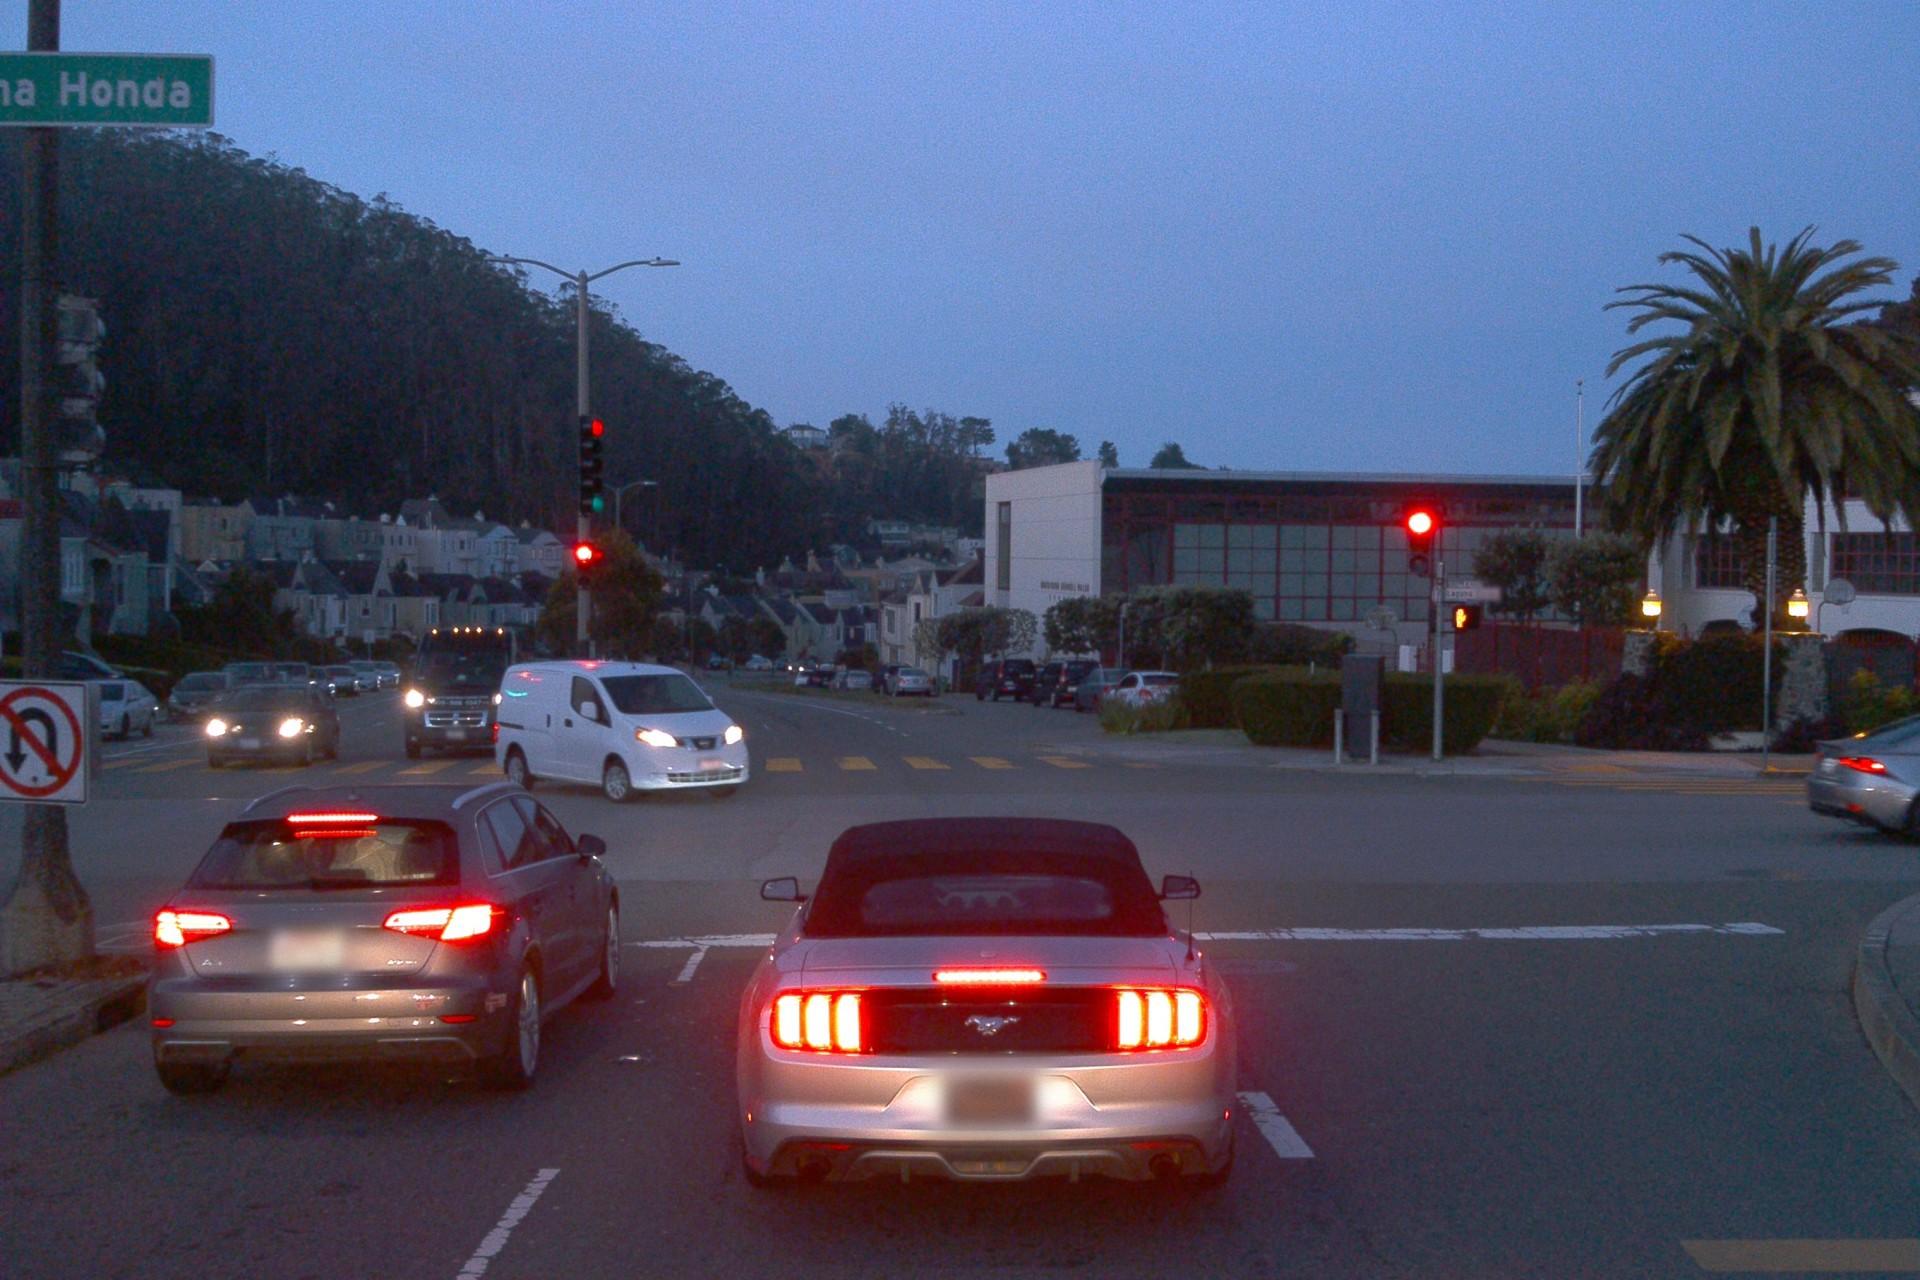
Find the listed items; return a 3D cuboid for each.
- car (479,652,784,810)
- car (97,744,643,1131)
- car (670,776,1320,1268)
[{"bbox_3d":[-4.666,1.167,28.826,2.098,2.000,4.849,0,0,-38],"label":"car"},{"bbox_3d":[-2.886,1.403,11.058,1.782,1.510,3.987,0,0,0],"label":"car"},{"bbox_3d":[0.099,1.422,9.110,2.174,1.380,4.355,0,0,0],"label":"car"}]
